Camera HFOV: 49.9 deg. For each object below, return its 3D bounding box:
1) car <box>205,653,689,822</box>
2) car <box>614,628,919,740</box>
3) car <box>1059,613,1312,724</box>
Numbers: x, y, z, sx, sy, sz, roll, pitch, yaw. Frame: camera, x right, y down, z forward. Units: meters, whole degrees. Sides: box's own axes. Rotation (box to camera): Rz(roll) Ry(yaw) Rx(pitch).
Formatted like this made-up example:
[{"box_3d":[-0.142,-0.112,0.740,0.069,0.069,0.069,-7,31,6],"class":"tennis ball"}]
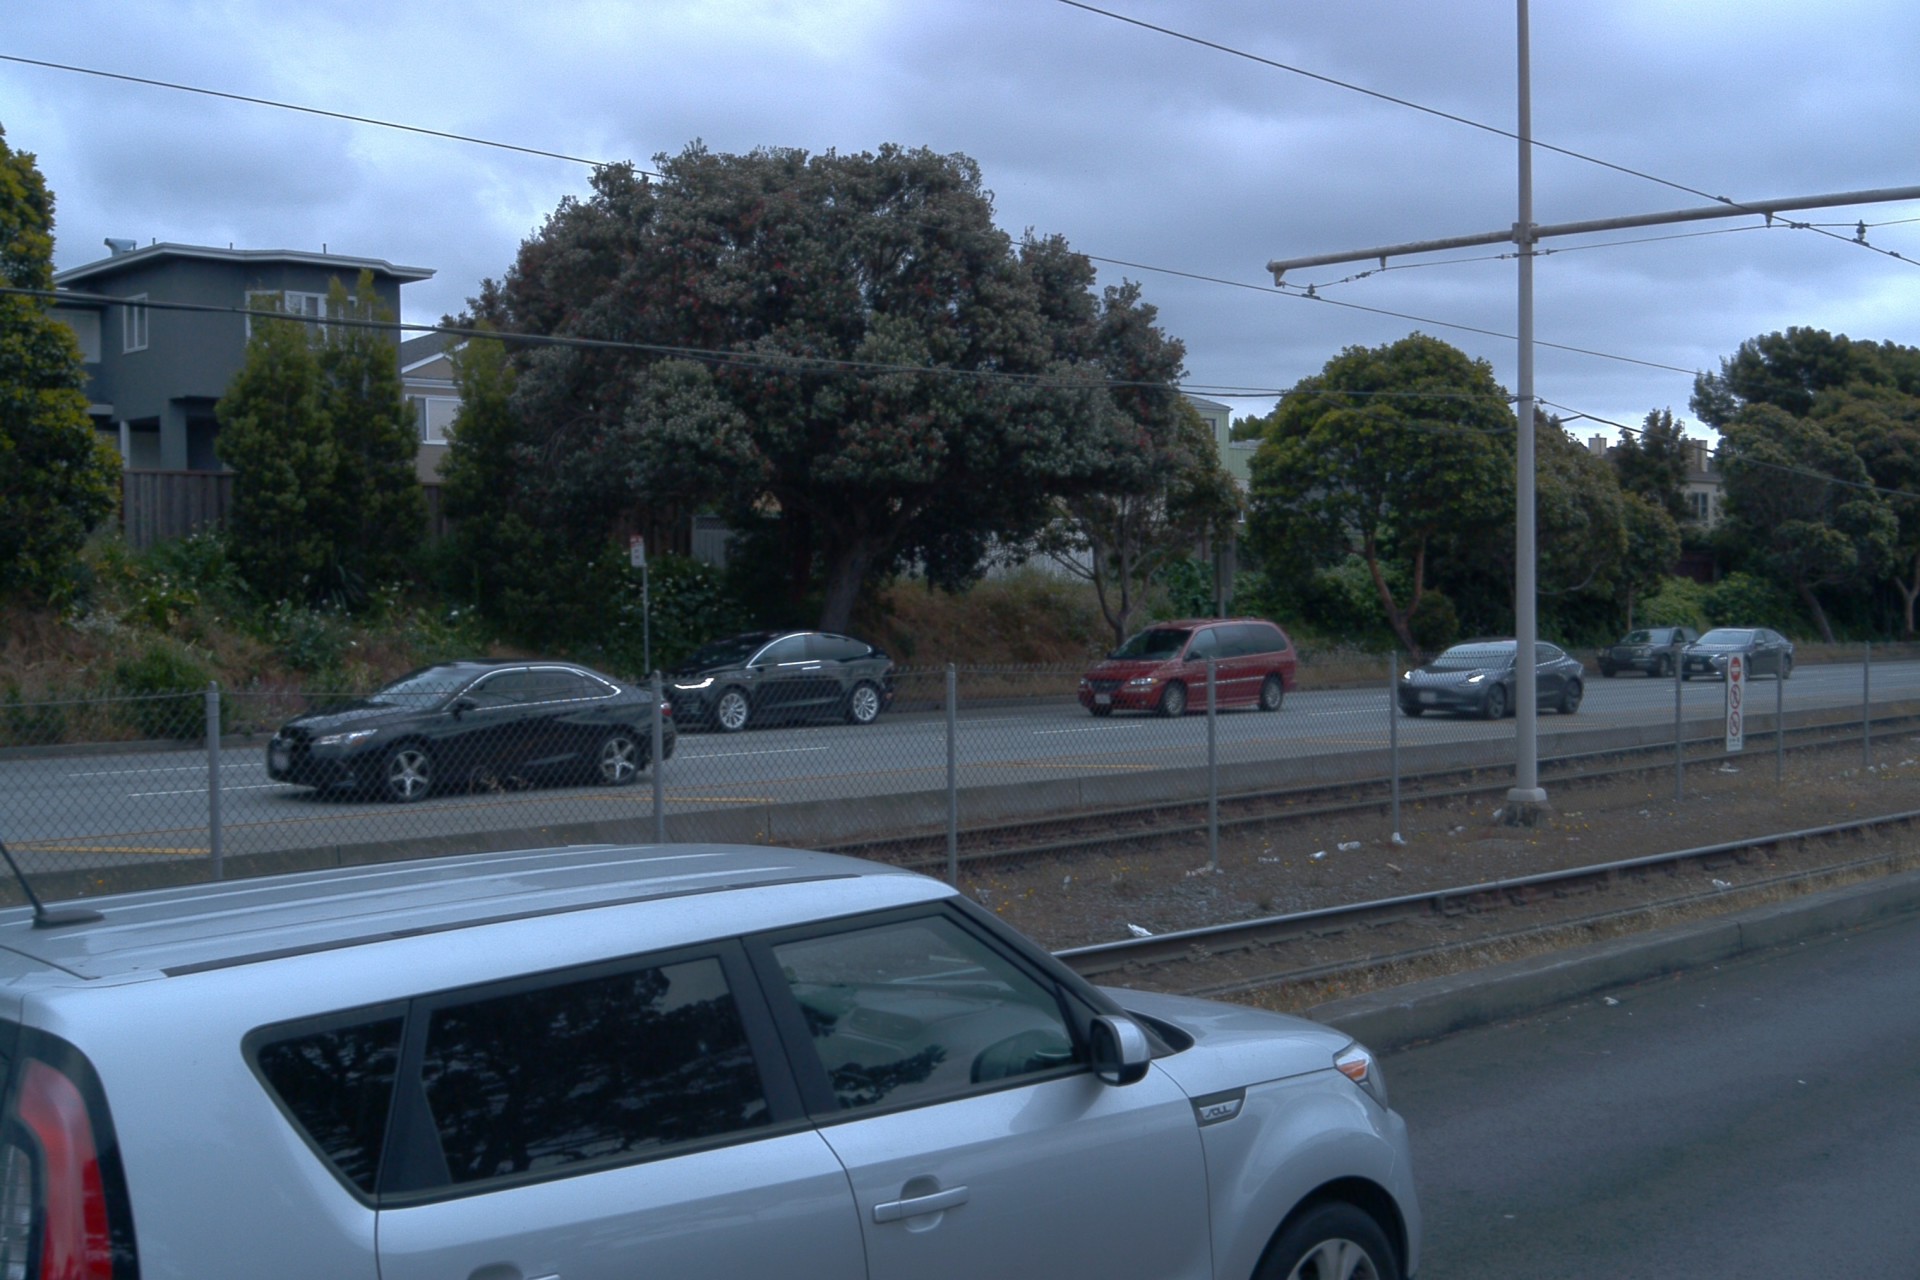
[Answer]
[{"box_3d":[-5.521,0.974,22.709,2.025,1.550,4.821,1,1,44],"class":"car"},{"box_3d":[-3.136,0.664,34.333,2.022,1.690,4.934,1,1,44],"class":"car"},{"box_3d":[4.216,0.466,37.983,2.035,1.900,4.973,1,1,44],"class":"car"}]
